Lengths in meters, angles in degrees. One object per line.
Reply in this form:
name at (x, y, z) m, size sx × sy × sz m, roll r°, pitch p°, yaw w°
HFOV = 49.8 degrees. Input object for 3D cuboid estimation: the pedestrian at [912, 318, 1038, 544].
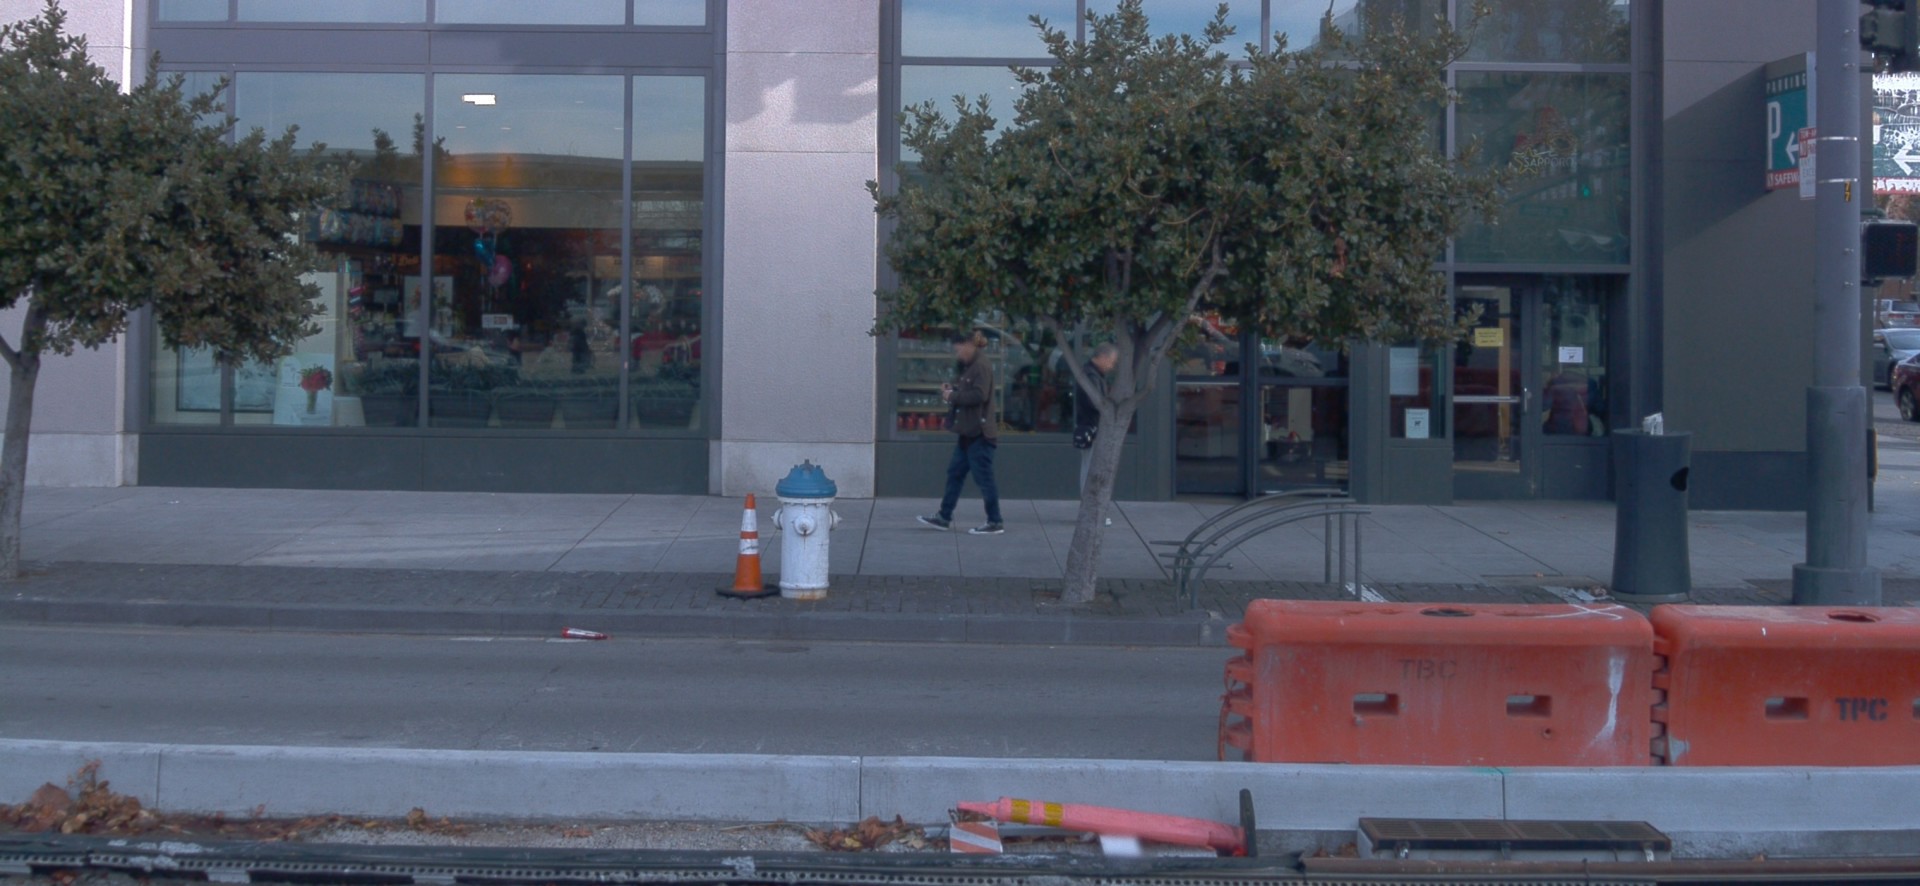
pedestrian at (0.136, -0.125, 17.548) m, size 1.000 × 1.815 × 0.864 m, roll 1°, pitch 1°, yaw 2°

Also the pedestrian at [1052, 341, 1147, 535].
pedestrian at (1.217, -0.060, 18.170) m, size 0.683 × 1.627 × 0.774 m, roll 1°, pitch 1°, yaw -4°
